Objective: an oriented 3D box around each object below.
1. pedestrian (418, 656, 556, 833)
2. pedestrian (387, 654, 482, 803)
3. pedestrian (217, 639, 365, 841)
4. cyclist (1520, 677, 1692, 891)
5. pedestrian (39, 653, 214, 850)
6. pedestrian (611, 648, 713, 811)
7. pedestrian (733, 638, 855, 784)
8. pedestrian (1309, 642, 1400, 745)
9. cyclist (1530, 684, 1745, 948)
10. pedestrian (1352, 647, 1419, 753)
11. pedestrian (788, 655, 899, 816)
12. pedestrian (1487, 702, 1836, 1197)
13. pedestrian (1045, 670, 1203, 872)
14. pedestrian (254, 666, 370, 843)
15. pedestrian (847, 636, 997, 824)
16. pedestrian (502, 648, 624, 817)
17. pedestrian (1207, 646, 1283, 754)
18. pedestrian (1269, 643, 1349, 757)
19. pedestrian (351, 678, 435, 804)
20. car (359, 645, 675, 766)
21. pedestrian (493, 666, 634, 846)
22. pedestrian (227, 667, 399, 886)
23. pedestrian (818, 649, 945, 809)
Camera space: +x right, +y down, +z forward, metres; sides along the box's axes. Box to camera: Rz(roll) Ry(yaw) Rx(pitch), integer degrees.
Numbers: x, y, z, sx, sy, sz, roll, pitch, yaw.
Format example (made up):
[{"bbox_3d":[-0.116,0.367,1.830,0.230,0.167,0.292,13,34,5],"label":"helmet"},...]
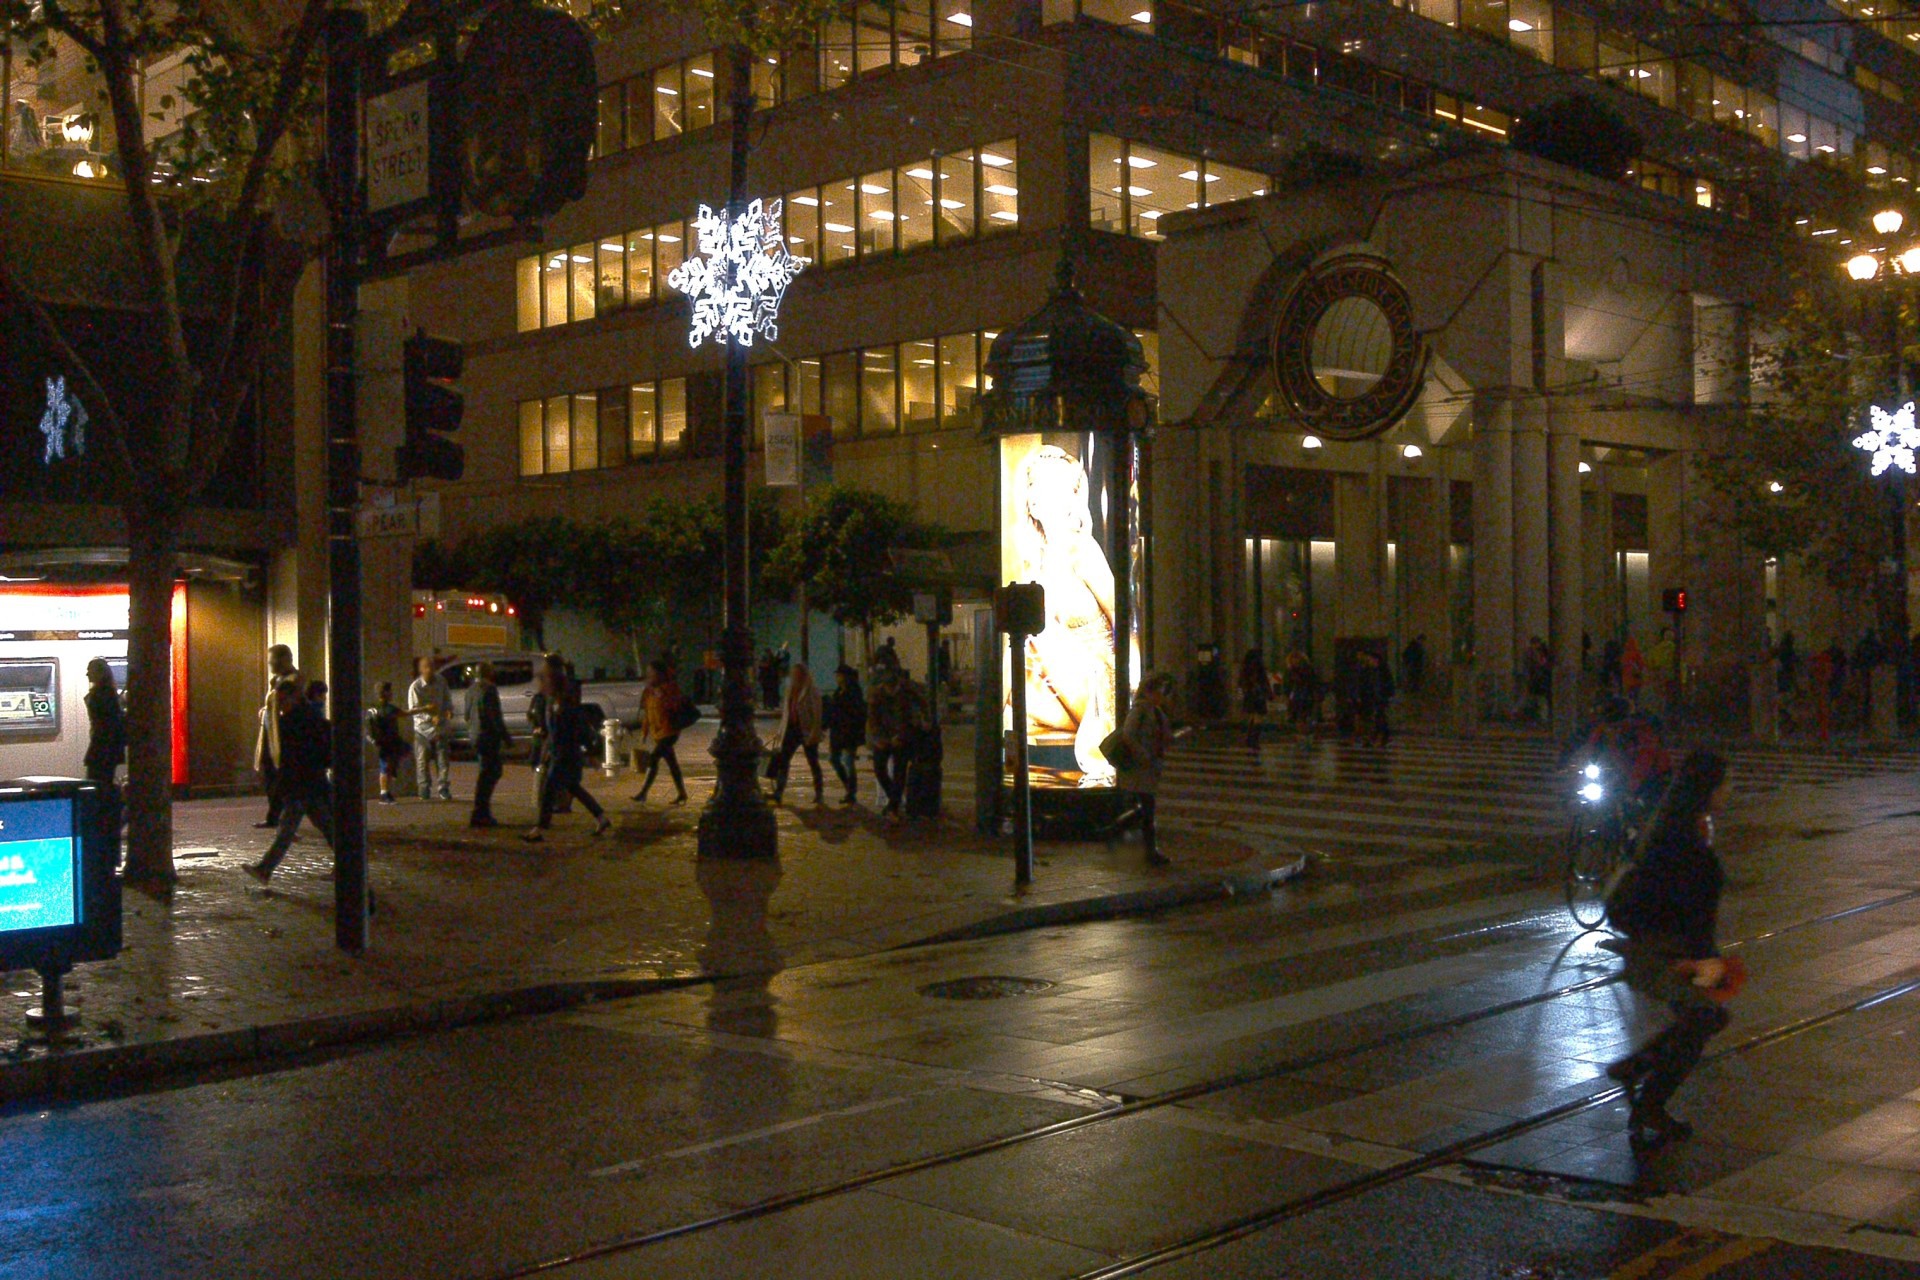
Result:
[{"bbox_3d":[-4.773,1.027,20.724,1.067,1.690,0.926,-1,1,-36],"label":"pedestrian"},{"bbox_3d":[-5.994,0.999,23.466,0.884,1.670,0.696,0,1,2],"label":"pedestrian"},{"bbox_3d":[-6.609,0.954,20.299,1.058,1.900,0.963,-1,1,-45],"label":"pedestrian"},{"bbox_3d":[5.554,1.185,17.594,0.756,1.680,1.798,1,1,40],"label":"cyclist"},{"bbox_3d":[-7.960,1.025,19.622,1.284,1.770,1.035,-1,1,-40],"label":"pedestrian"},{"bbox_3d":[-3.447,1.012,23.789,0.842,1.820,0.812,1,1,41],"label":"pedestrian"},{"bbox_3d":[-2.004,0.831,24.770,1.025,1.680,1.080,-1,1,-41],"label":"pedestrian"},{"bbox_3d":[6.728,0.891,34.988,1.397,1.680,0.876,-1,1,-45],"label":"pedestrian"},{"bbox_3d":[4.797,1.185,14.485,0.727,1.680,1.754,1,1,45],"label":"cyclist"},{"bbox_3d":[7.146,0.996,34.478,0.657,1.720,0.998,1,1,44],"label":"pedestrian"},{"bbox_3d":[-1.367,1.097,24.129,0.978,1.820,0.866,-1,1,-44],"label":"pedestrian"},{"bbox_3d":[2.863,1.164,8.315,1.223,1.750,1.142,0,1,24],"label":"pedestrian"},{"bbox_3d":[1.478,1.138,18.394,1.117,1.700,0.976,0,1,27],"label":"pedestrian"},{"bbox_3d":[-6.156,1.062,19.512,0.894,1.600,0.763,-1,1,-31],"label":"pedestrian"},{"bbox_3d":[-0.400,0.929,21.866,1.417,1.920,0.742,-1,1,-32],"label":"pedestrian"},{"bbox_3d":[-4.267,0.968,22.087,0.988,1.730,0.843,-1,1,-43],"label":"pedestrian"},{"bbox_3d":[4.662,0.969,33.594,0.806,1.710,0.985,1,1,43],"label":"pedestrian"},{"bbox_3d":[5.633,0.957,33.170,0.860,1.780,0.987,1,1,43],"label":"pedestrian"},{"bbox_3d":[-6.265,1.104,22.709,0.645,1.350,0.634,0,1,19],"label":"pedestrian"},{"bbox_3d":[-7.418,1.077,34.751,4.910,1.960,1.934,0,1,0],"label":"car"},{"bbox_3d":[-3.785,1.078,19.606,1.083,1.620,0.886,-1,1,-31],"label":"pedestrian"},{"bbox_3d":[-5.196,1.065,16.520,0.699,1.650,1.101,1,1,40],"label":"pedestrian"},{"bbox_3d":[-0.892,0.982,23.288,1.120,1.720,0.908,-1,1,-38],"label":"pedestrian"}]
